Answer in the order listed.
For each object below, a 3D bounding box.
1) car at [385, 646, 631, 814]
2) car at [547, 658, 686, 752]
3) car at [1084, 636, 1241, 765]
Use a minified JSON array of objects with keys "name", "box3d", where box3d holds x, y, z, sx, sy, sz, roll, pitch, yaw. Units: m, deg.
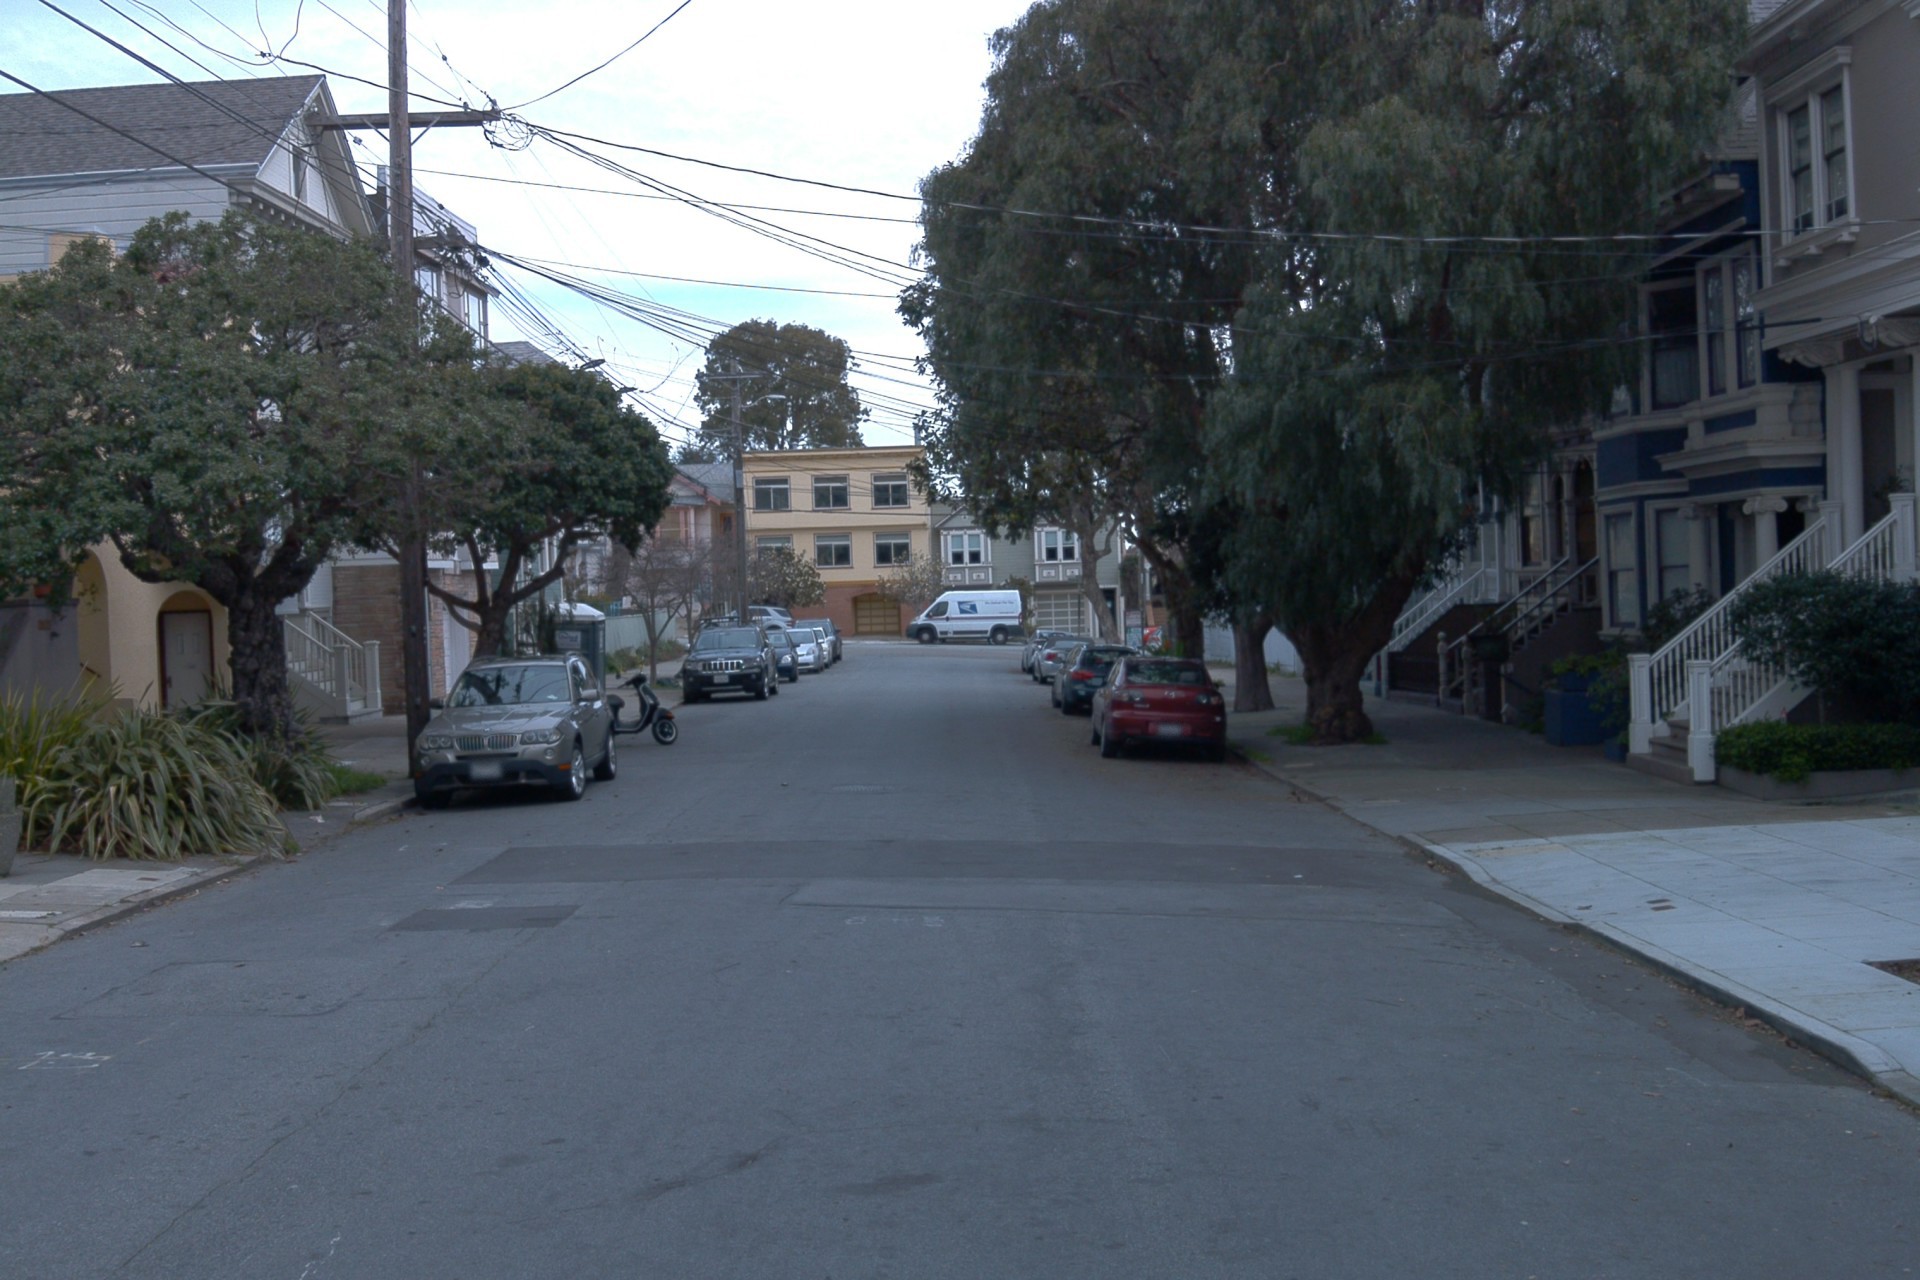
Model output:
[{"name":"car","box3d":[-5.240,0.978,24.590,2.068,1.725,4.587,0,1,-2]},{"name":"car","box3d":[-5.386,1.014,32.511,2.043,1.431,0.920,1,1,-2]},{"name":"car","box3d":[2.922,0.826,30.787,1.960,1.710,4.635,1,1,1]}]
